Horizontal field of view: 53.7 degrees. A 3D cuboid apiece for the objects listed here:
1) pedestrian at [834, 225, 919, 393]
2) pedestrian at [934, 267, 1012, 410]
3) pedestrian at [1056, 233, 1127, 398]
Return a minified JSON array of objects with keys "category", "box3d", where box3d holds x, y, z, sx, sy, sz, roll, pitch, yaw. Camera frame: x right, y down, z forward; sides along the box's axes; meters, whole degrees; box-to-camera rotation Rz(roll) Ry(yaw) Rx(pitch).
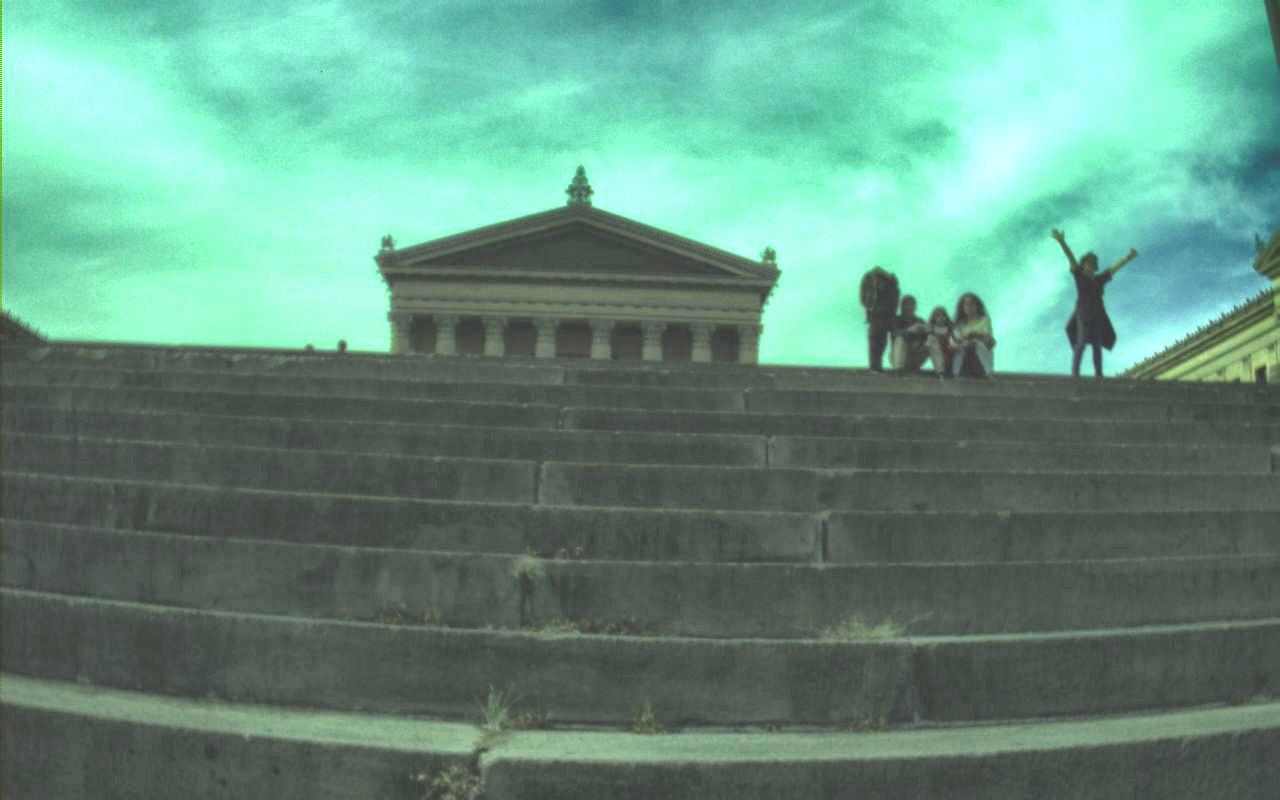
[{"category":"pedestrian","box3d":[2.527,-0.948,13.333,0.661,1.737,0.687,0,0,-21]},{"category":"pedestrian","box3d":[3.589,-0.644,13.292,0.723,1.490,0.778,0,0,3]},{"category":"pedestrian","box3d":[5.372,-0.970,14.256,0.728,1.921,0.720,0,0,7]}]
